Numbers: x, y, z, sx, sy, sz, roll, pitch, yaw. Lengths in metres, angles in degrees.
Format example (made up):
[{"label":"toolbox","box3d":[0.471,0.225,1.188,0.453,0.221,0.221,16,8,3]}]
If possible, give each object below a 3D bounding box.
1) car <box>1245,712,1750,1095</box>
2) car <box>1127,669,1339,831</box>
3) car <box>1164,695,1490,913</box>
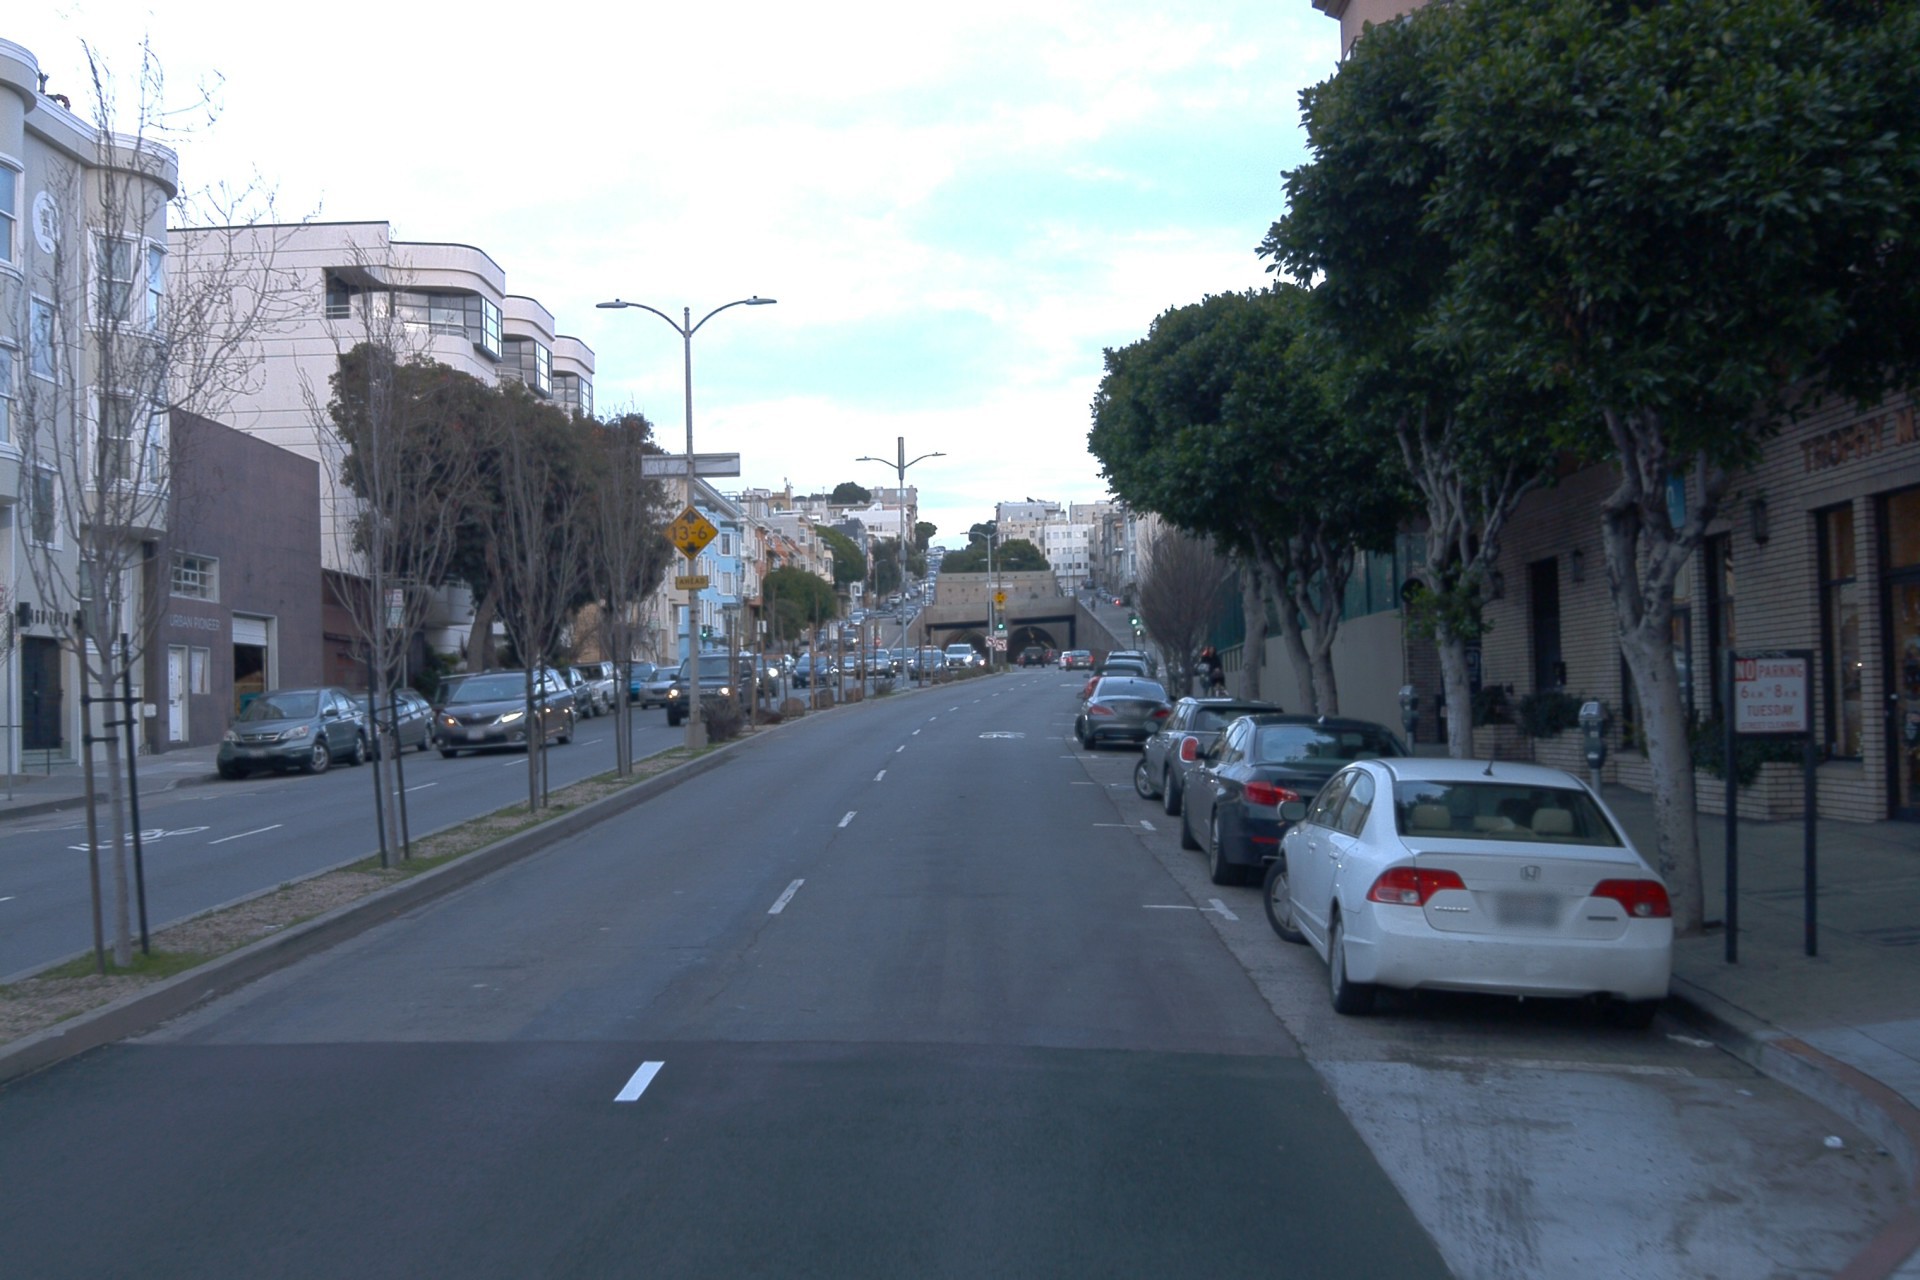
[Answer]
[{"label":"car","box3d":[3.102,1.445,12.997,2.061,1.750,4.614,1,1,2]},{"label":"car","box3d":[3.349,1.314,26.109,1.990,1.770,4.209,1,1,-2]},{"label":"car","box3d":[3.170,1.372,18.931,2.151,1.530,5.003,1,1,1]}]
